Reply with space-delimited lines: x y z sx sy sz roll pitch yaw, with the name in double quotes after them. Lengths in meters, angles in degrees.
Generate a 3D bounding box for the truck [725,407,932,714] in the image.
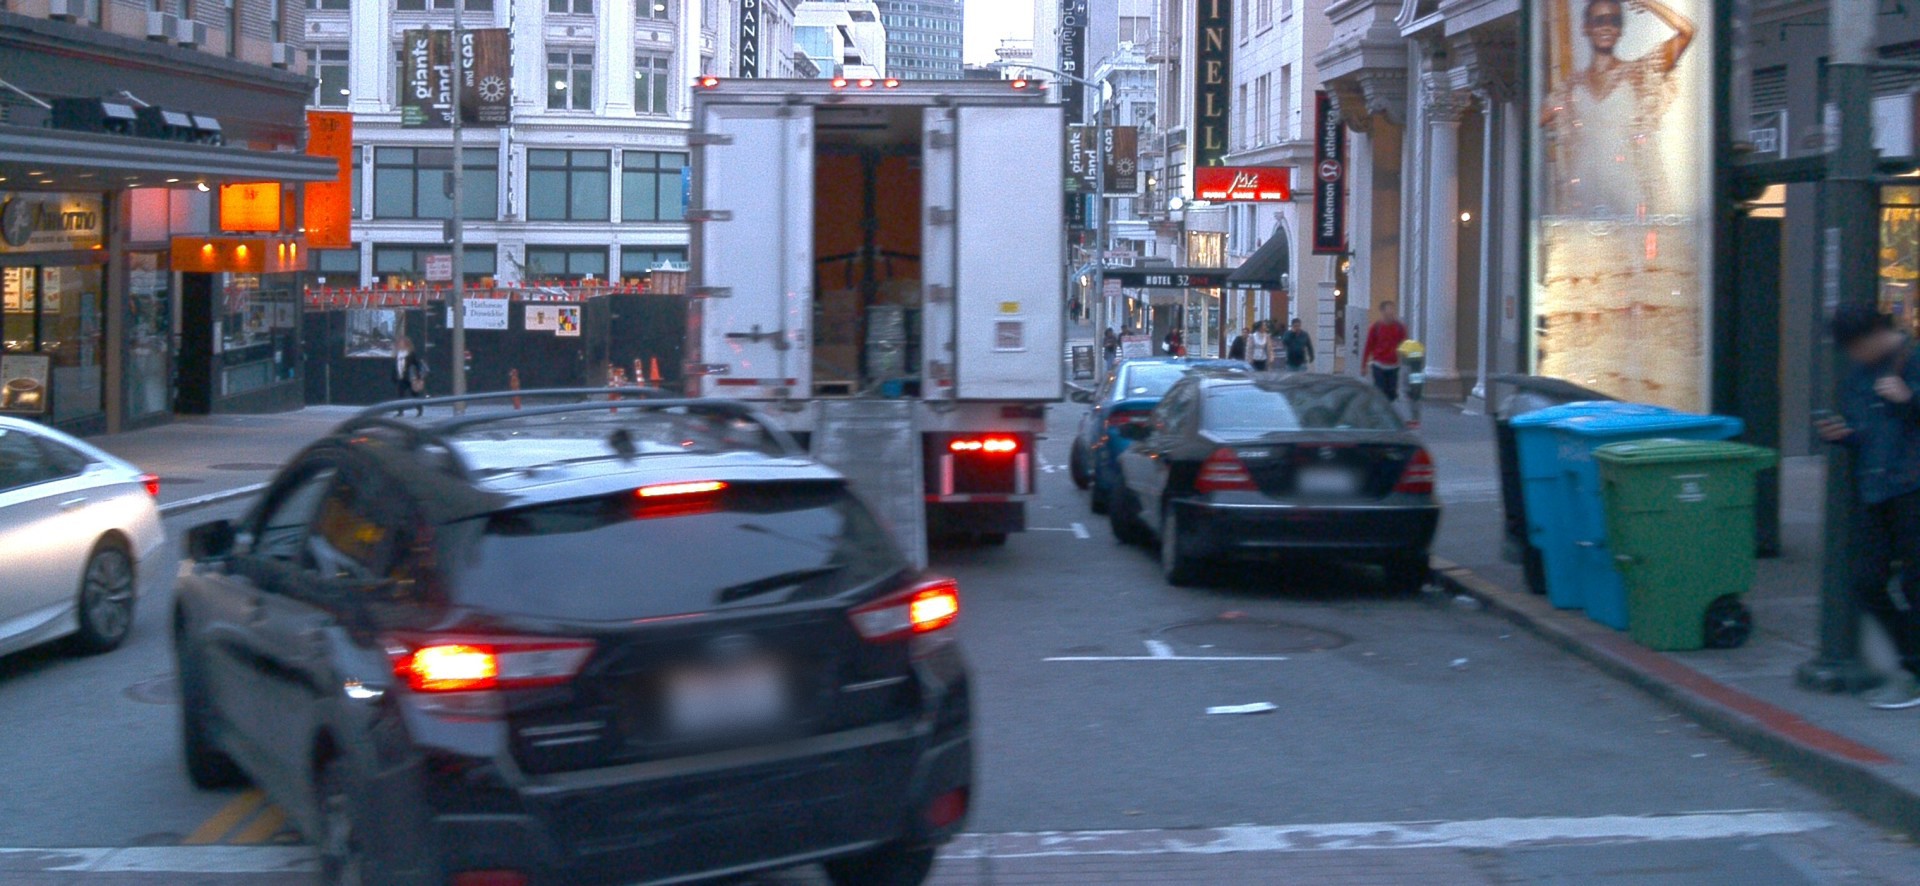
-0.671 0.533 12.021 1.000 1.149 4.081 0 5 -1 "truck"

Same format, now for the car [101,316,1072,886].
-1.689 0.589 7.518 2.141 1.914 4.418 -2 5 -30 "car"

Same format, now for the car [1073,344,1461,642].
1.999 0.197 14.733 1.938 1.564 4.428 0 5 -3 "car"

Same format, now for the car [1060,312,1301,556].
2.036 -0.220 20.165 2.058 1.970 4.320 0 5 2 "car"

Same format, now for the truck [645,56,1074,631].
-0.826 -1.032 17.410 2.877 3.828 7.275 0 5 -3 "truck"

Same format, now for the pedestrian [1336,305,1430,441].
6.102 -1.029 29.671 1.121 1.900 1.056 0 1 -2 "pedestrian"
